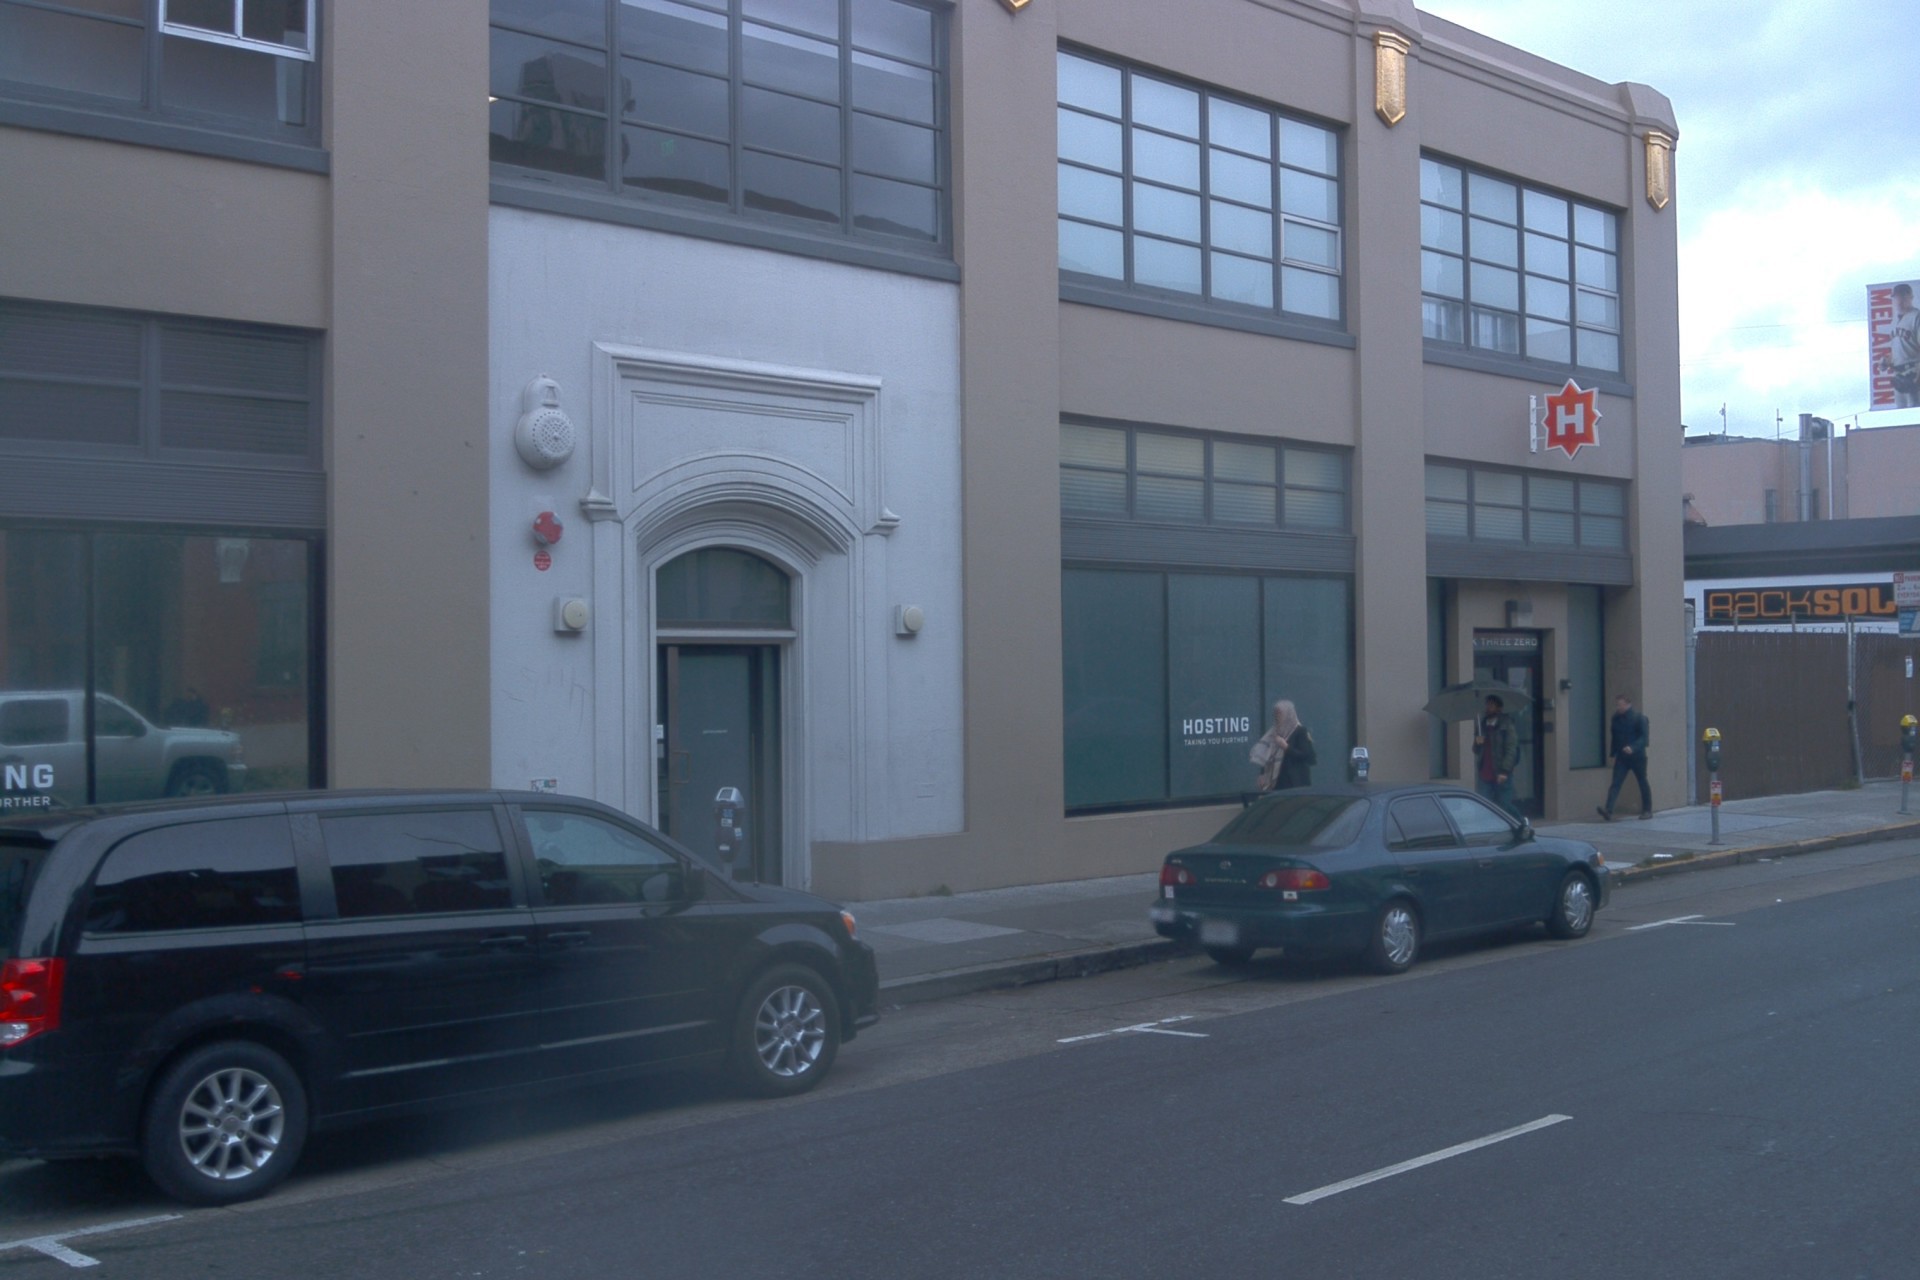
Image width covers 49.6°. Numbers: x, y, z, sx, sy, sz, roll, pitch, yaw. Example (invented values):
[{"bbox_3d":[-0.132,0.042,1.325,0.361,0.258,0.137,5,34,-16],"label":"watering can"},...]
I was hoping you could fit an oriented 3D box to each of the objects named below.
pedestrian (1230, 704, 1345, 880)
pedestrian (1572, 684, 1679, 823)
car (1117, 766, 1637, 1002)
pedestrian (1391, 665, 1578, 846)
[{"bbox_3d":[3.412,1.557,21.642,0.841,1.740,0.852,0,0,45],"label":"pedestrian"},{"bbox_3d":[8.599,1.443,26.863,1.083,1.708,0.924,0,0,-45],"label":"pedestrian"},{"bbox_3d":[3.339,1.771,16.115,4.350,1.328,1.799,0,0,-44],"label":"car"},{"bbox_3d":[5.996,1.273,23.780,1.513,1.950,1.494,0,0,-44],"label":"pedestrian"}]
